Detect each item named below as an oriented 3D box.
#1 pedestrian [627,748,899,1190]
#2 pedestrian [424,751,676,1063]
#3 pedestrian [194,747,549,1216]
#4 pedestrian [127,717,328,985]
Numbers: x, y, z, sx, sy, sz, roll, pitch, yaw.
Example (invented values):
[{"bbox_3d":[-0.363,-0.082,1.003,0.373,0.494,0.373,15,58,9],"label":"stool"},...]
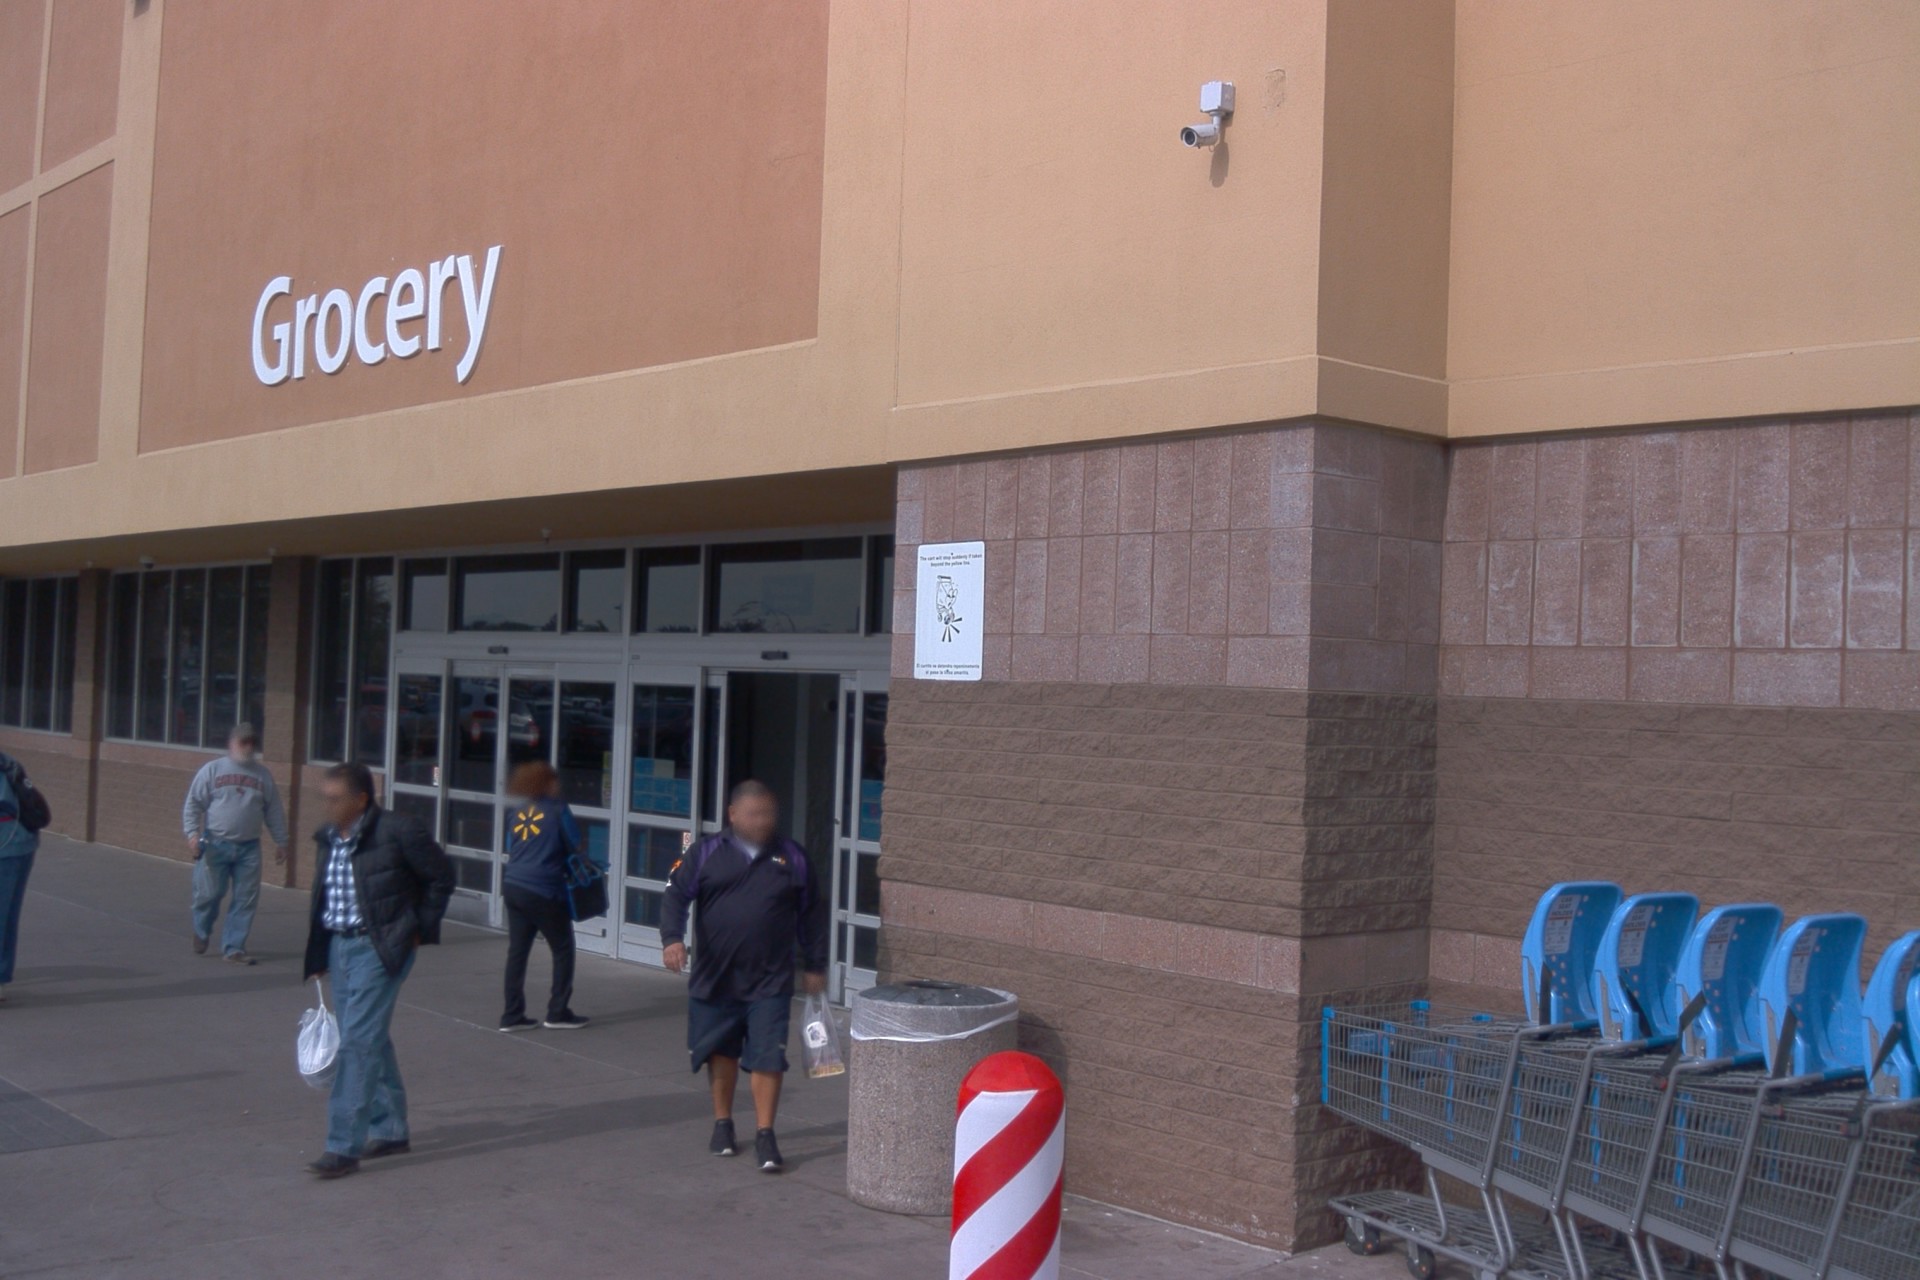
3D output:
[{"bbox_3d":[-0.879,1.354,8.989,1.009,1.720,1.094,1,0,-13],"label":"pedestrian"},{"bbox_3d":[-2.358,1.485,11.998,1.000,1.630,1.000,1,0,41],"label":"pedestrian"},{"bbox_3d":[-2.467,1.365,8.792,1.000,1.760,1.000,1,0,29],"label":"pedestrian"},{"bbox_3d":[-5.034,1.405,14.300,1.000,1.710,1.000,1,0,-39],"label":"pedestrian"}]
